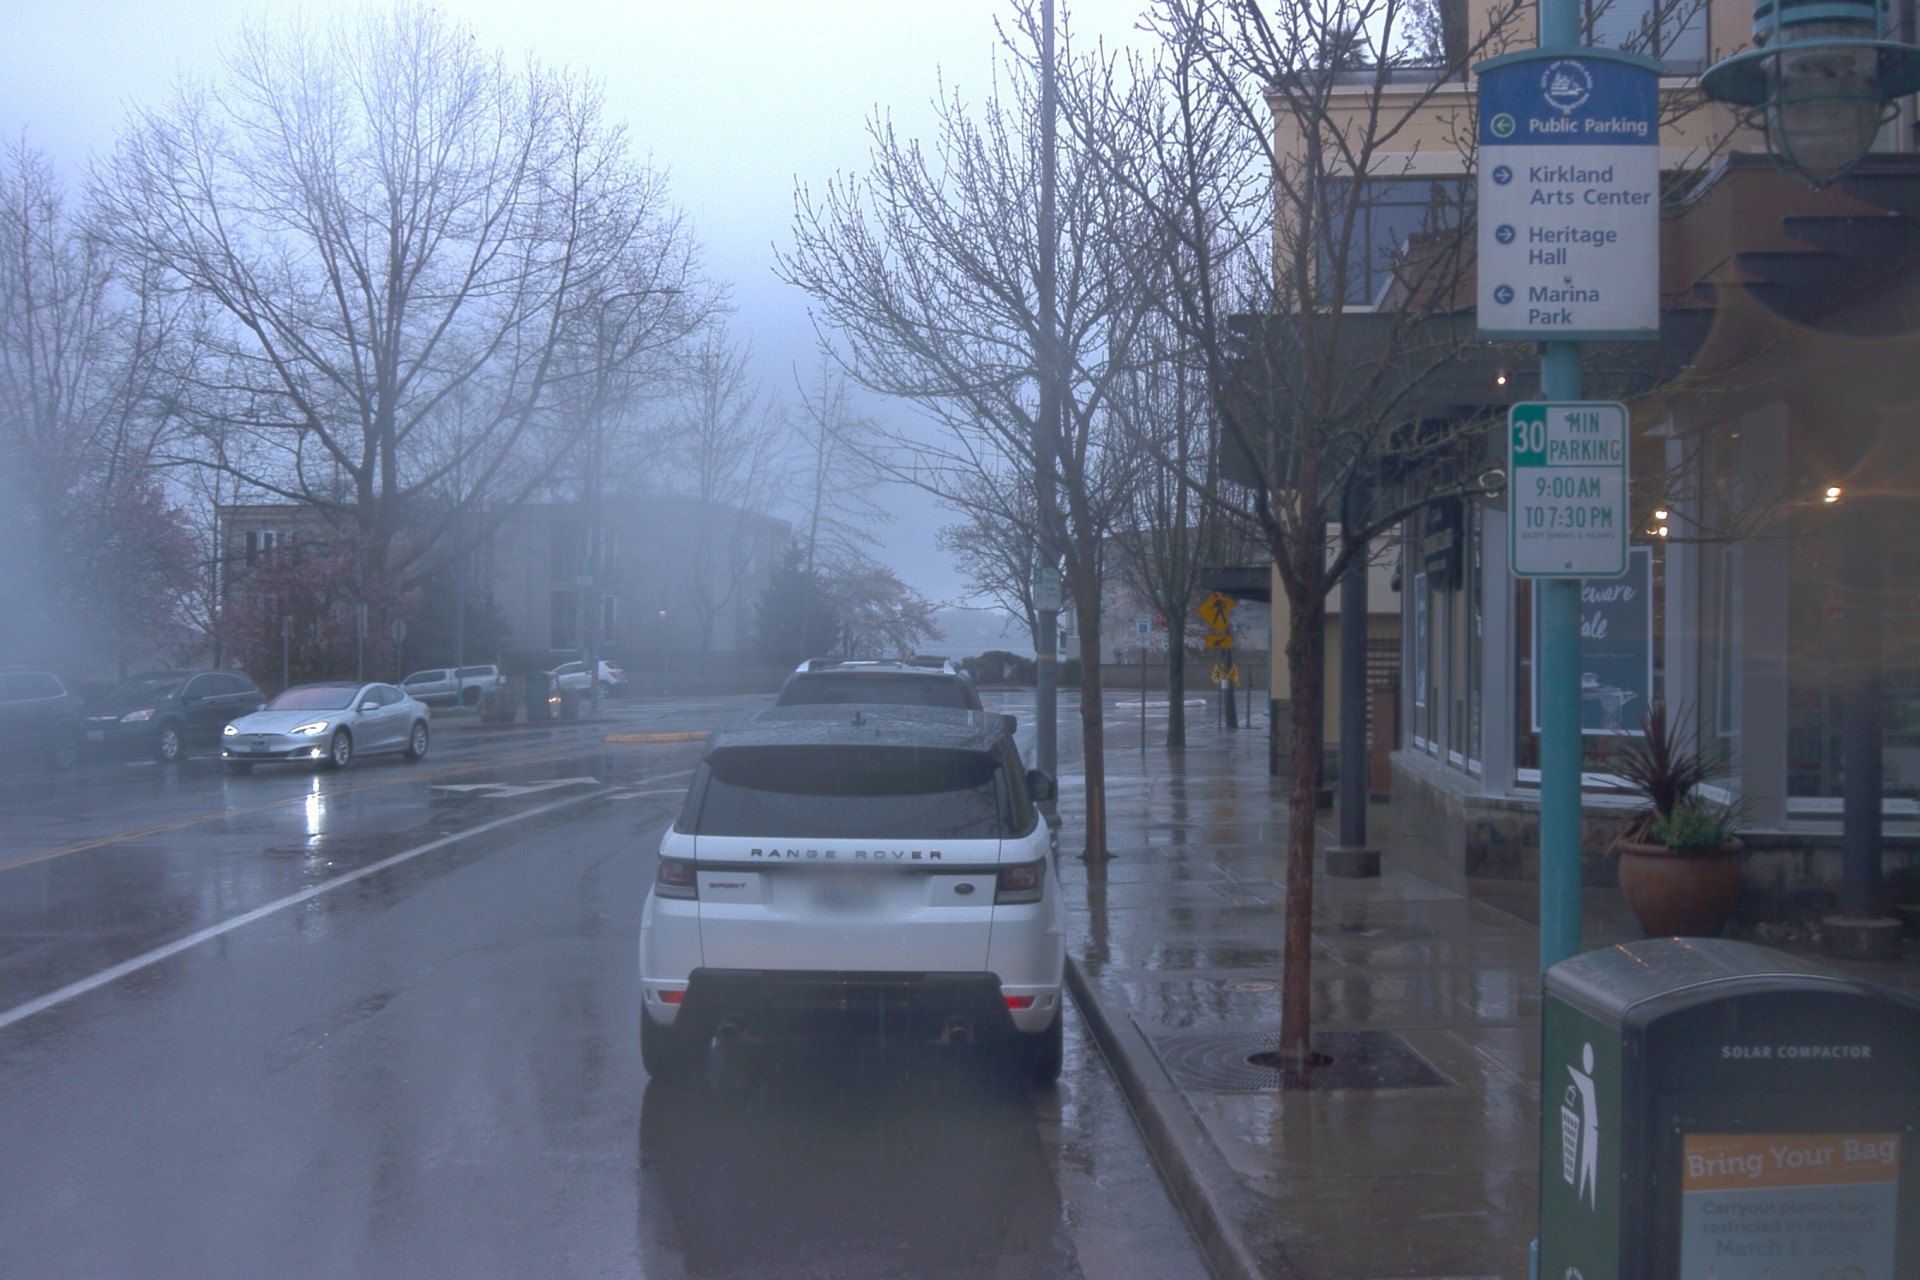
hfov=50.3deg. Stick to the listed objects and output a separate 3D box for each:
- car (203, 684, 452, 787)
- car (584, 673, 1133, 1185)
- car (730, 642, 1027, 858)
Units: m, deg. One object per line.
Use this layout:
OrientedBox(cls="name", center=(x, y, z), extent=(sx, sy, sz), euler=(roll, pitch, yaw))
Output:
OrientedBox(cls="car", center=(-10.721, 1.573, 35.101), extent=(2.173, 1.470, 4.798), euler=(1, 0, 9))
OrientedBox(cls="car", center=(-0.519, 1.259, 11.130), extent=(2.265, 2.000, 5.125), euler=(1, 0, -2))
OrientedBox(cls="car", center=(-0.712, 0.831, 17.956), extent=(2.210, 1.560, 5.097), euler=(1, 0, -2))
